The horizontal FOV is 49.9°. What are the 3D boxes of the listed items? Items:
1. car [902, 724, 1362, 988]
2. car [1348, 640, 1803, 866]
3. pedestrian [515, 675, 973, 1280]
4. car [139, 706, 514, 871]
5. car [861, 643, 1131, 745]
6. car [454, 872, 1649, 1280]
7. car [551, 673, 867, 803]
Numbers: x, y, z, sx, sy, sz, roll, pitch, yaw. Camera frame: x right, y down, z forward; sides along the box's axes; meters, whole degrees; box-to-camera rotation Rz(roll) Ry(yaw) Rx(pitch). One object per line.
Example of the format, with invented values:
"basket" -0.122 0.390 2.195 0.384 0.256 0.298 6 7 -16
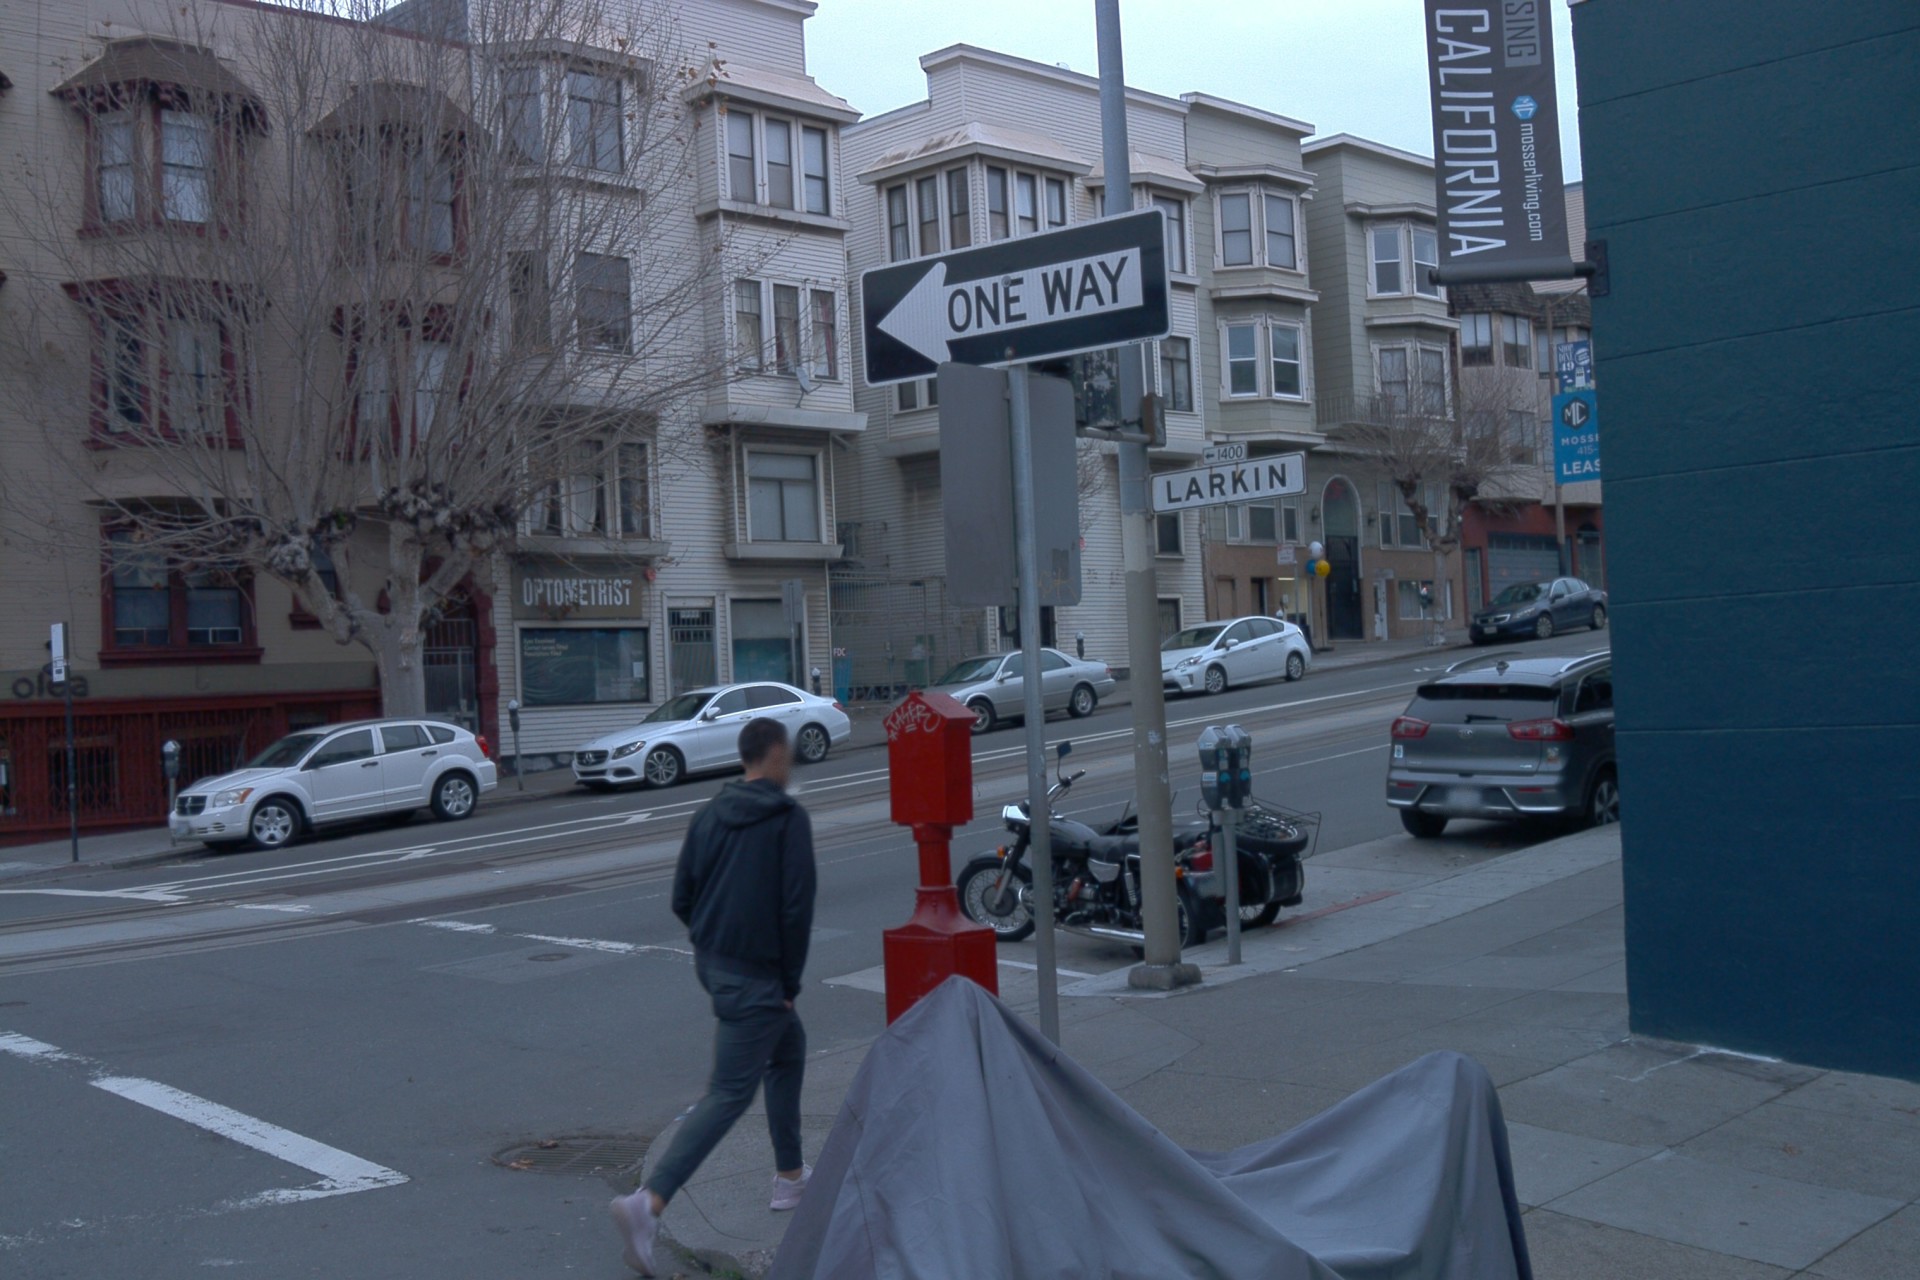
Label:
"car" 1.133 1.378 14.055 2.745 1.460 1.540 0 1 42
"car" 5.645 0.883 18.584 2.132 1.717 4.606 0 1 42
"pedestrian" -0.761 1.183 7.510 1.450 2.066 0.822 -1 1 -44
"car" -8.482 1.917 27.920 2.053 1.847 4.407 1 1 44
"car" 0.712 0.918 37.121 4.801 1.657 2.084 -1 1 -45
"car" 0.332 1.393 4.286 2.490 1.520 1.048 -1 1 -44
"car" -3.872 1.464 32.361 4.589 1.757 2.074 -1 1 -44
